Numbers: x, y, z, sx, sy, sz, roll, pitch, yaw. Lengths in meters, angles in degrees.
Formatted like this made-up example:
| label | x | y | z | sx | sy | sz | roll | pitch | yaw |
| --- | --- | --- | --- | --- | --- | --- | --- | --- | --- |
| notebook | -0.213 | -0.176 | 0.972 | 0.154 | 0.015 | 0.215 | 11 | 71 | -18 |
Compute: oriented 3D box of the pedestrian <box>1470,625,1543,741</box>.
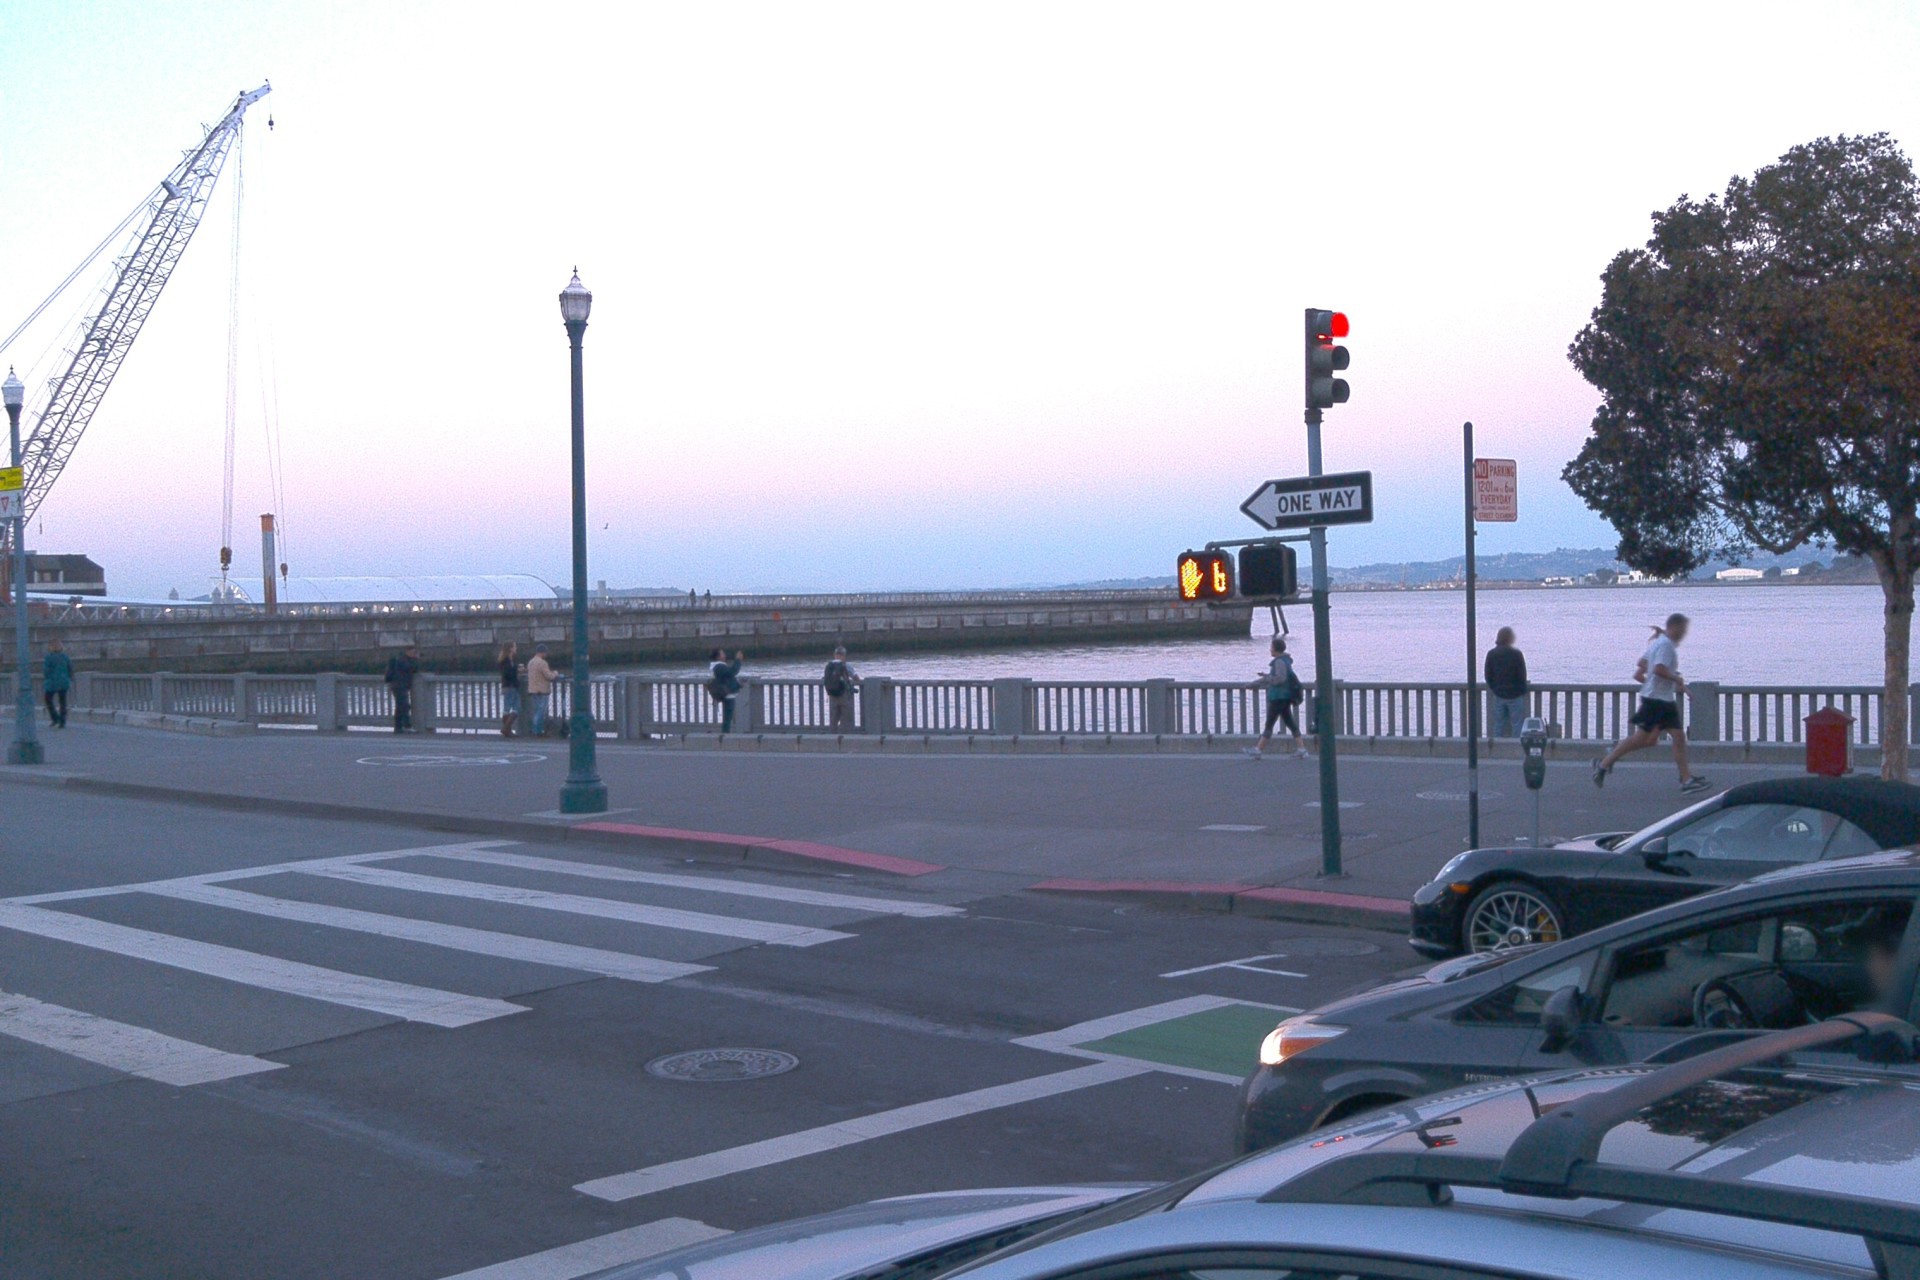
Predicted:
| label | x | y | z | sx | sy | sz | roll | pitch | yaw |
| --- | --- | --- | --- | --- | --- | --- | --- | --- | --- |
| pedestrian | 7.215 | 0.563 | 27.354 | 0.751 | 1.510 | 0.681 | 0 | 0 | 33 |

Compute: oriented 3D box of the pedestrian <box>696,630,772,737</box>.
| label | x | y | z | sx | sy | sz | roll | pitch | yaw |
| --- | --- | --- | --- | --- | --- | --- | --- | --- | --- |
| pedestrian | -3.617 | 0.689 | 33.128 | 0.867 | 1.680 | 0.881 | 0 | 0 | -37 |

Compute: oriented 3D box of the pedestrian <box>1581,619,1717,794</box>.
| label | x | y | z | sx | sy | sz | roll | pitch | yaw |
| --- | --- | --- | --- | --- | --- | --- | --- | --- | --- |
| pedestrian | 7.235 | 0.680 | 21.756 | 1.141 | 1.770 | 1.023 | 0 | 0 | 32 |

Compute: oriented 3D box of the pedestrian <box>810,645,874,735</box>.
| label | x | y | z | sx | sy | sz | roll | pitch | yaw |
| --- | --- | --- | --- | --- | --- | --- | --- | --- | --- |
| pedestrian | -1.861 | 0.783 | 32.731 | 0.791 | 1.400 | 0.928 | 0 | 0 | 11 |

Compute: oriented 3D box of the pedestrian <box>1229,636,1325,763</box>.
| label | x | y | z | sx | sy | sz | roll | pitch | yaw |
| --- | --- | --- | --- | --- | --- | --- | --- | --- | --- |
| pedestrian | 4.039 | 0.741 | 26.372 | 0.983 | 1.580 | 0.826 | 0 | 0 | 28 |

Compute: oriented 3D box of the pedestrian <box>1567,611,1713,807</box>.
| label | x | y | z | sx | sy | sz | roll | pitch | yaw |
| --- | --- | --- | --- | --- | --- | --- | --- | --- | --- |
| pedestrian | 6.877 | 0.679 | 20.960 | 1.196 | 1.910 | 1.016 | 0 | 0 | 32 |

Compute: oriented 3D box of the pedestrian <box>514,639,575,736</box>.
| label | x | y | z | sx | sy | sz | roll | pitch | yaw |
| --- | --- | --- | --- | --- | --- | --- | --- | --- | --- |
| pedestrian | -7.380 | 0.839 | 36.850 | 0.753 | 1.710 | 0.745 | 0 | 0 | 33 |

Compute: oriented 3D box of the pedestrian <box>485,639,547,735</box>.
| label | x | y | z | sx | sy | sz | roll | pitch | yaw |
| --- | --- | --- | --- | --- | --- | --- | --- | --- | --- |
| pedestrian | -7.972 | 0.835 | 37.196 | 0.825 | 1.710 | 0.731 | 0 | 0 | -43 |
